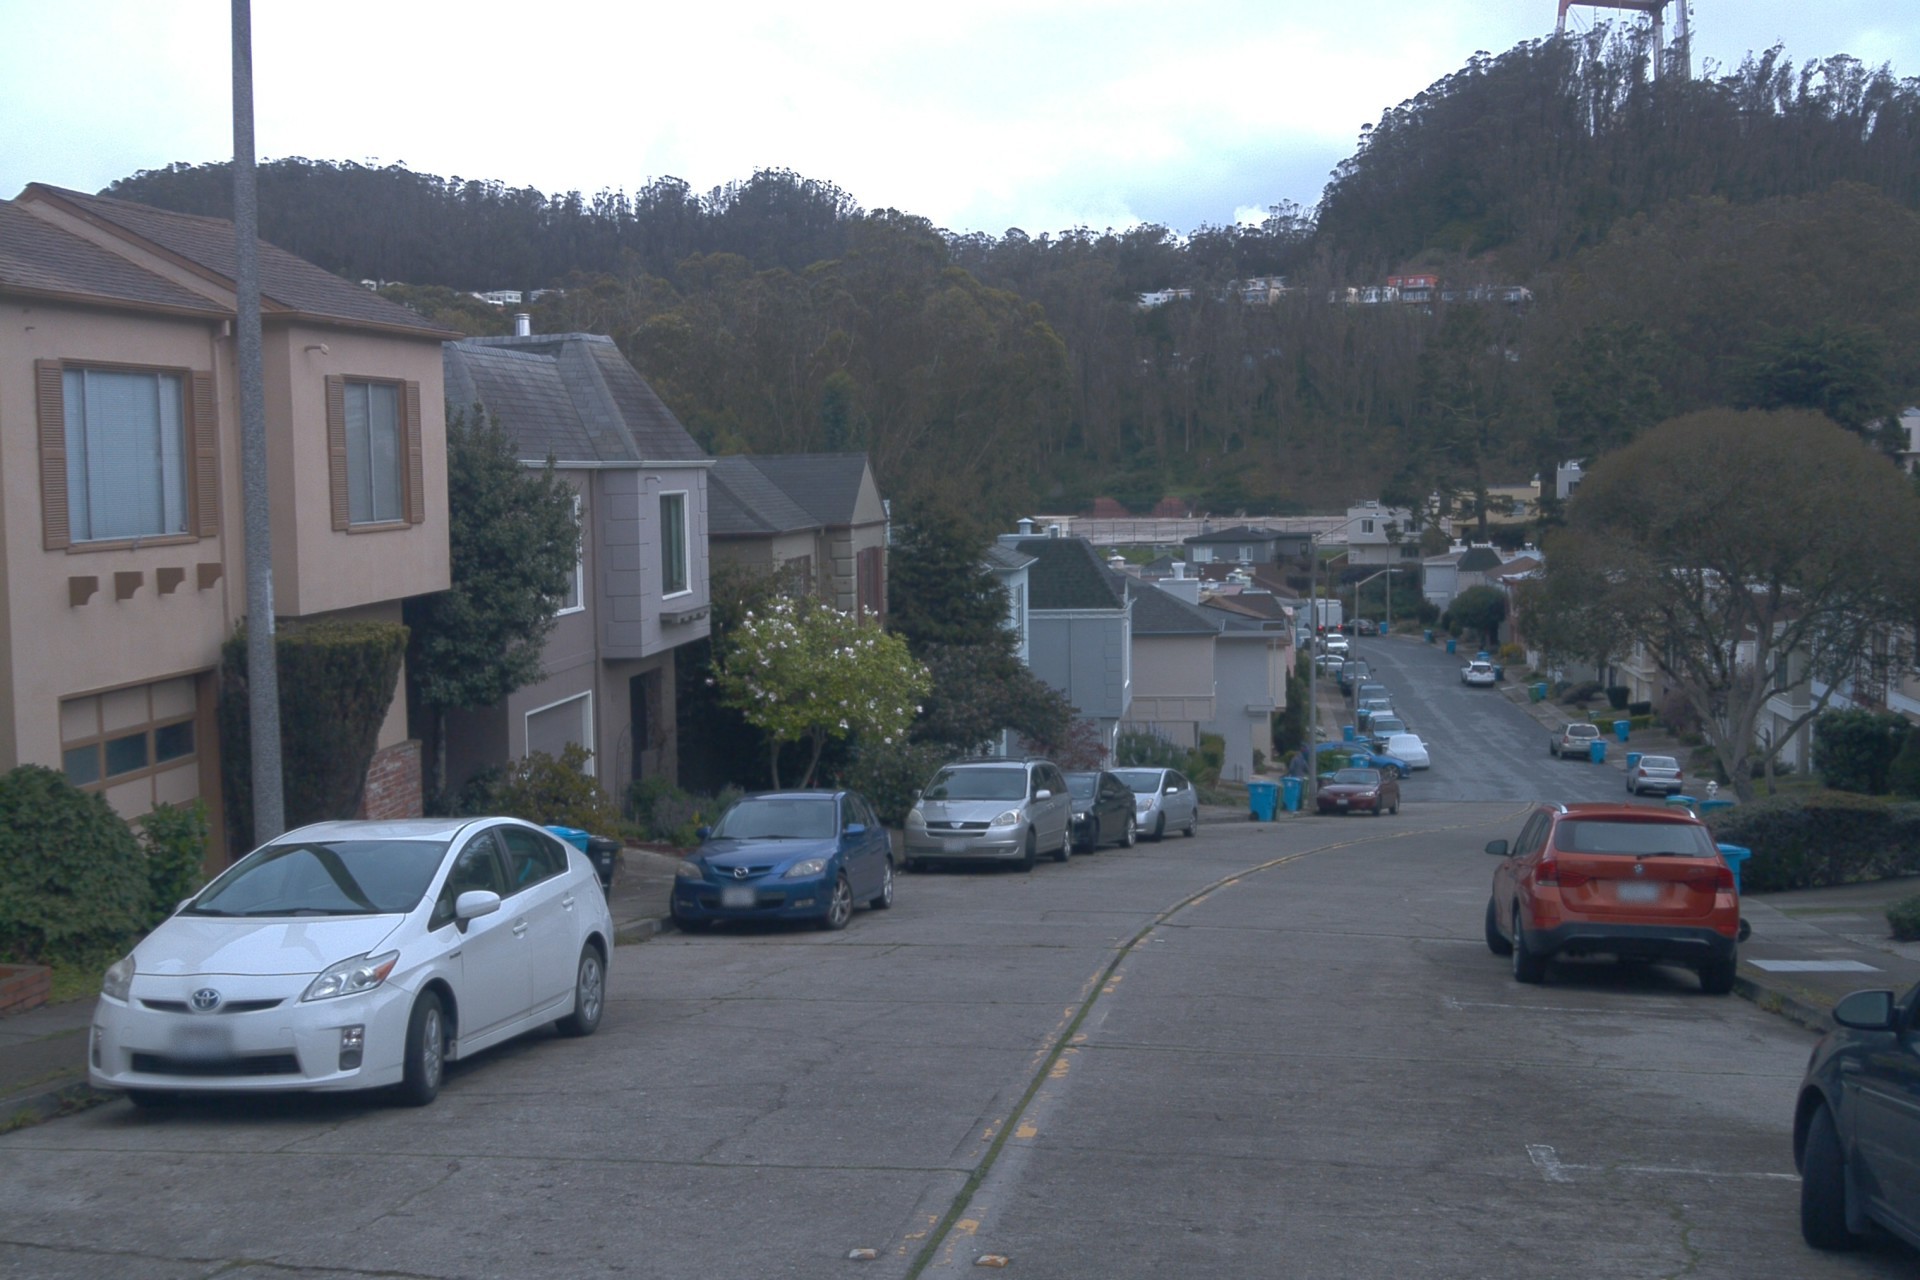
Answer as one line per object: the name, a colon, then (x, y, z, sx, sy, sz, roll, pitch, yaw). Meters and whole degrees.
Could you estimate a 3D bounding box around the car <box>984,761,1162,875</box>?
car: (2.159, 3.198, 38.043, 2.088, 1.682, 4.571, 0, 0, 19)

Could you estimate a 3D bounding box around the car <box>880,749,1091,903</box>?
car: (0.523, 2.856, 33.006, 2.347, 1.990, 5.078, 0, 0, 13)

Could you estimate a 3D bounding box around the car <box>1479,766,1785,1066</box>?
car: (5.904, 2.319, 18.773, 2.111, 2.060, 4.753, 0, 0, 12)

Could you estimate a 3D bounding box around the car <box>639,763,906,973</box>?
car: (-1.952, 2.418, 23.049, 2.025, 1.850, 4.435, 0, 0, 8)
